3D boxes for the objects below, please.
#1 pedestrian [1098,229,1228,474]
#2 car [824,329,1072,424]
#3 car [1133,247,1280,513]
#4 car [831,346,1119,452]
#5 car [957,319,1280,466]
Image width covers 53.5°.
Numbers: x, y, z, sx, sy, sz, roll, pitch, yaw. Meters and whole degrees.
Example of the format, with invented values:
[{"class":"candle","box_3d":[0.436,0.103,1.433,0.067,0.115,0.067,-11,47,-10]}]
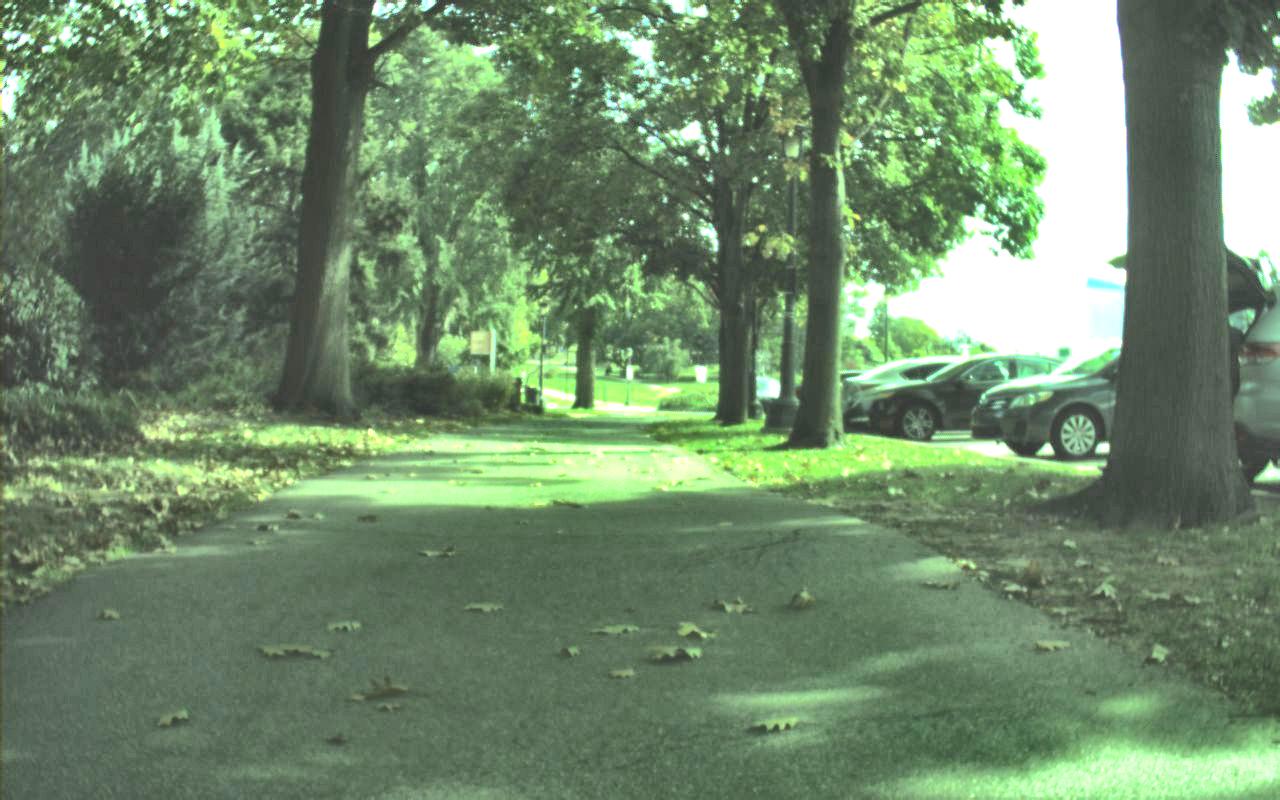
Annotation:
[{"class":"pedestrian","box_3d":[4.189,-0.361,9.459,0.961,1.880,0.897,1,0,13]},{"class":"car","box_3d":[5.820,-0.422,23.486,4.411,1.680,1.961,0,1,-5]},{"class":"car","box_3d":[6.473,-0.128,9.192,4.484,1.900,2.027,0,1,-1]},{"class":"car","box_3d":[5.488,-0.026,20.292,4.455,1.616,1.978,0,1,-4]},{"class":"car","box_3d":[6.161,-0.080,14.483,4.355,1.596,1.961,0,1,-4]}]
